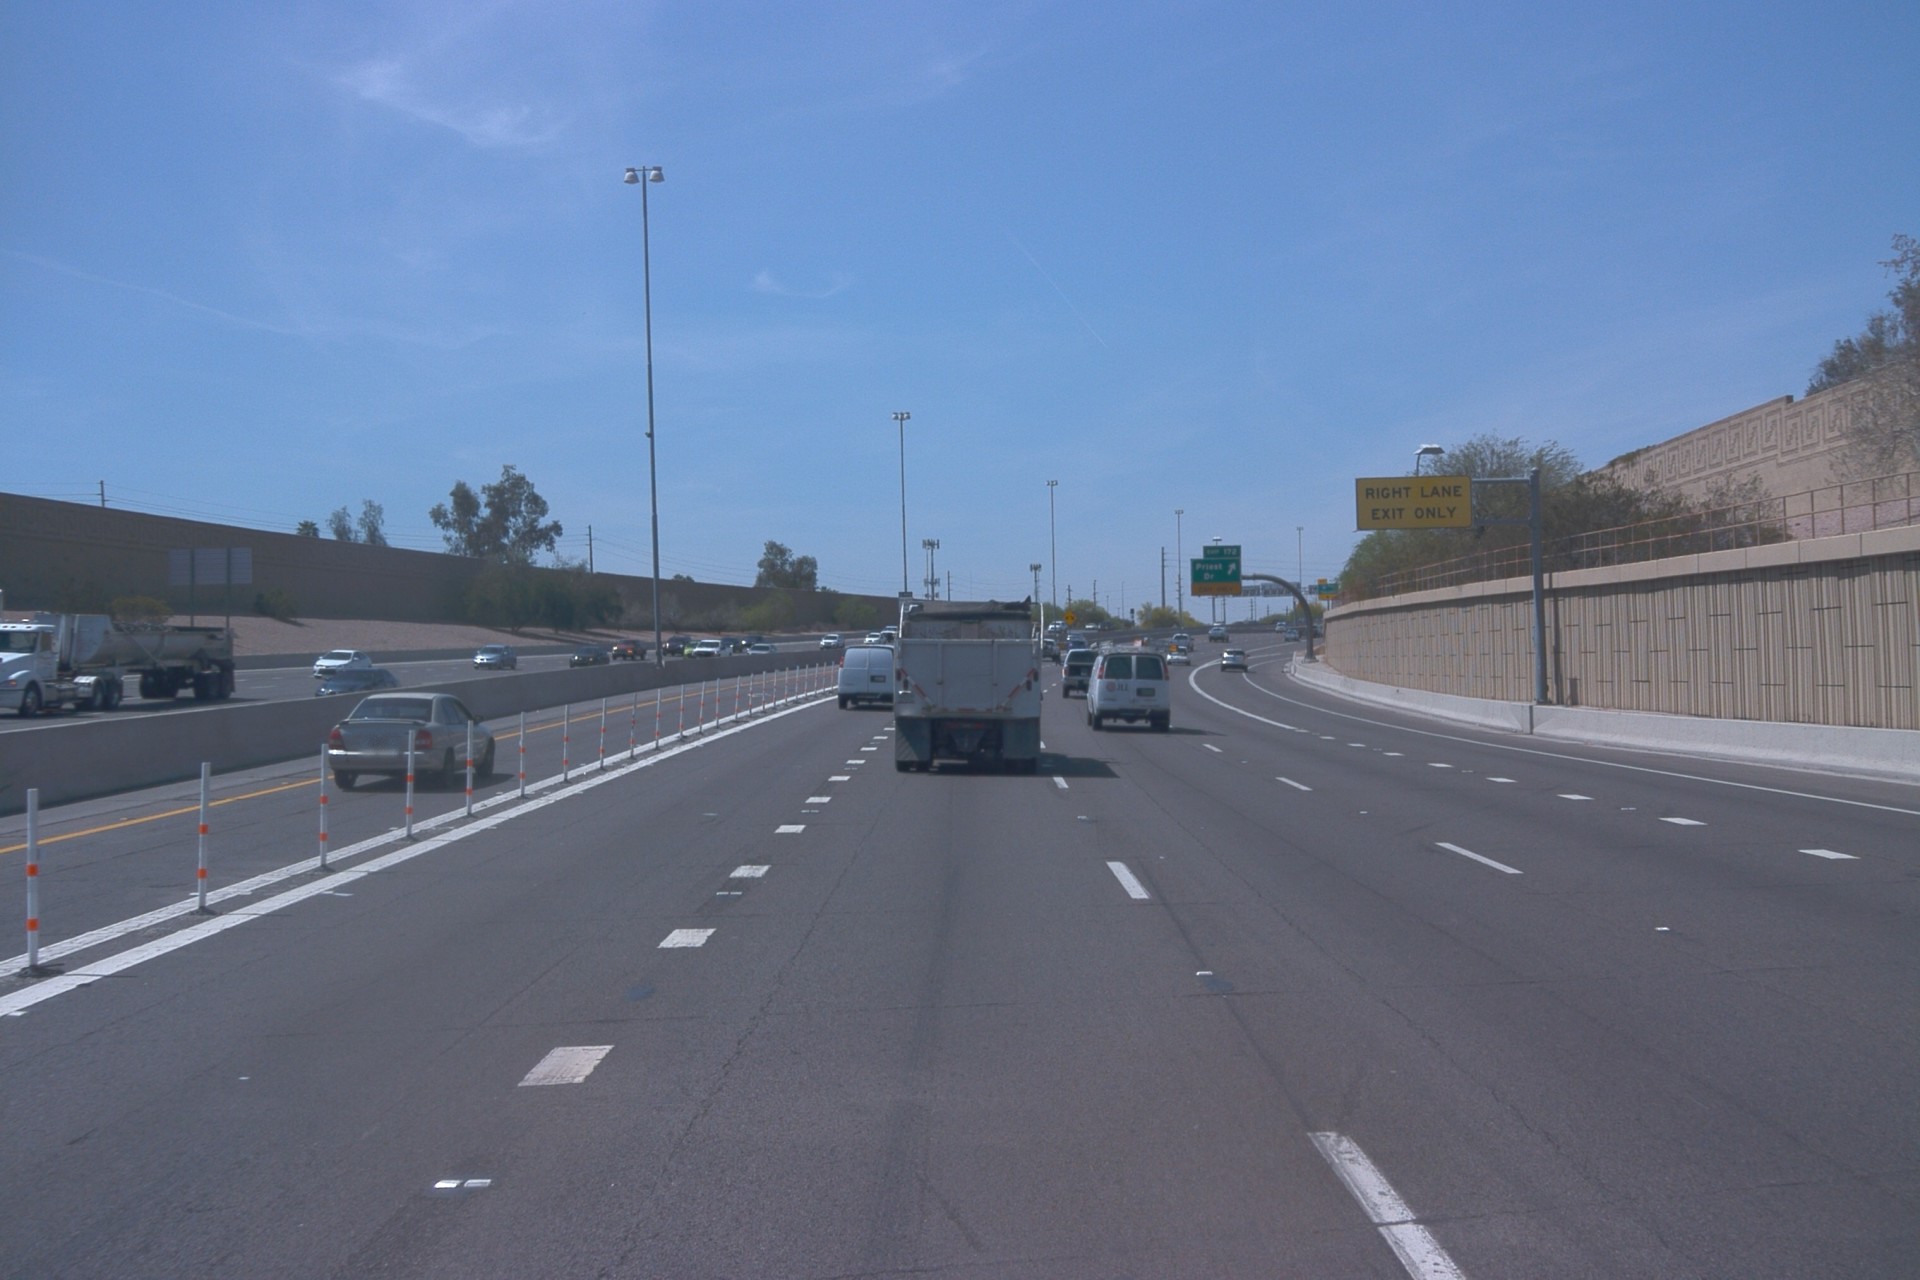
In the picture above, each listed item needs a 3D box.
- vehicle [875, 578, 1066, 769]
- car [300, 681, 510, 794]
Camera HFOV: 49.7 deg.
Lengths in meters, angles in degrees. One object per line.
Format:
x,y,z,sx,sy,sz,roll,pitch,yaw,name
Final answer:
0.251,0.568,37.574,3.162,3.170,6.476,0,0,1,vehicle
-8.493,1.452,32.153,1.935,1.560,4.736,0,0,1,car
